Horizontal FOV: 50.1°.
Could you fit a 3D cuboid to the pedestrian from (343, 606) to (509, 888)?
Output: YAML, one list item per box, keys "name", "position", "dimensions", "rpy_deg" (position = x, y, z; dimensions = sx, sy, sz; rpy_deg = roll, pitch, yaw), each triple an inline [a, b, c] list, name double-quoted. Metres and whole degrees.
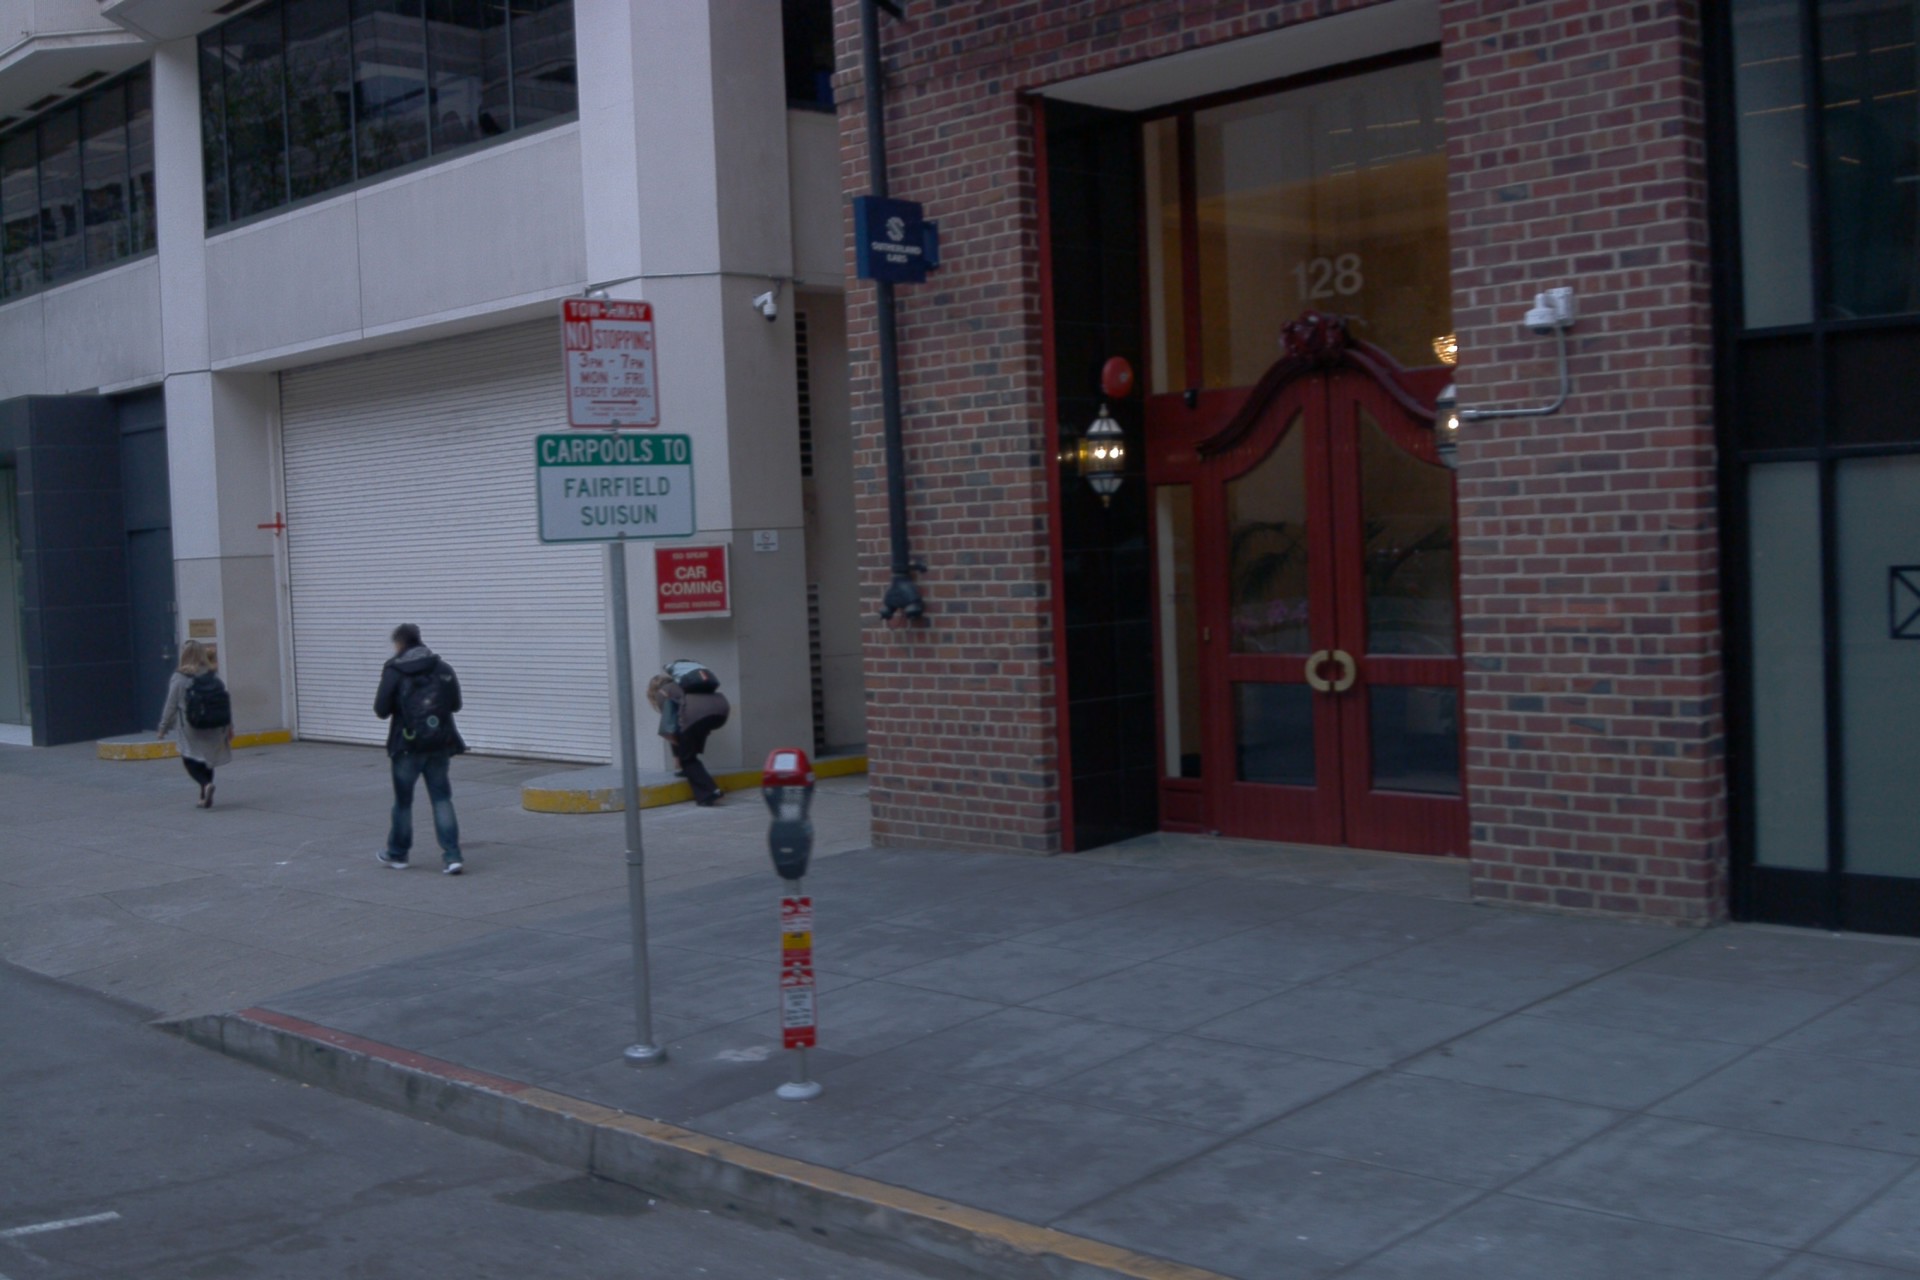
- name: "pedestrian"
  position: [-3.633, 0.690, 13.966]
  dimensions: [0.736, 1.830, 0.968]
  rpy_deg: [0, 0, -40]

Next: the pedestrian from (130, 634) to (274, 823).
- name: "pedestrian"
  position: [-6.709, 0.756, 18.191]
  dimensions: [0.882, 1.600, 0.985]
  rpy_deg: [0, 0, -42]

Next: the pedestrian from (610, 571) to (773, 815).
- name: "pedestrian"
  position: [-2.122, 0.393, 16.240]
  dimensions: [0.927, 1.850, 0.887]
  rpy_deg: [0, 0, -44]
